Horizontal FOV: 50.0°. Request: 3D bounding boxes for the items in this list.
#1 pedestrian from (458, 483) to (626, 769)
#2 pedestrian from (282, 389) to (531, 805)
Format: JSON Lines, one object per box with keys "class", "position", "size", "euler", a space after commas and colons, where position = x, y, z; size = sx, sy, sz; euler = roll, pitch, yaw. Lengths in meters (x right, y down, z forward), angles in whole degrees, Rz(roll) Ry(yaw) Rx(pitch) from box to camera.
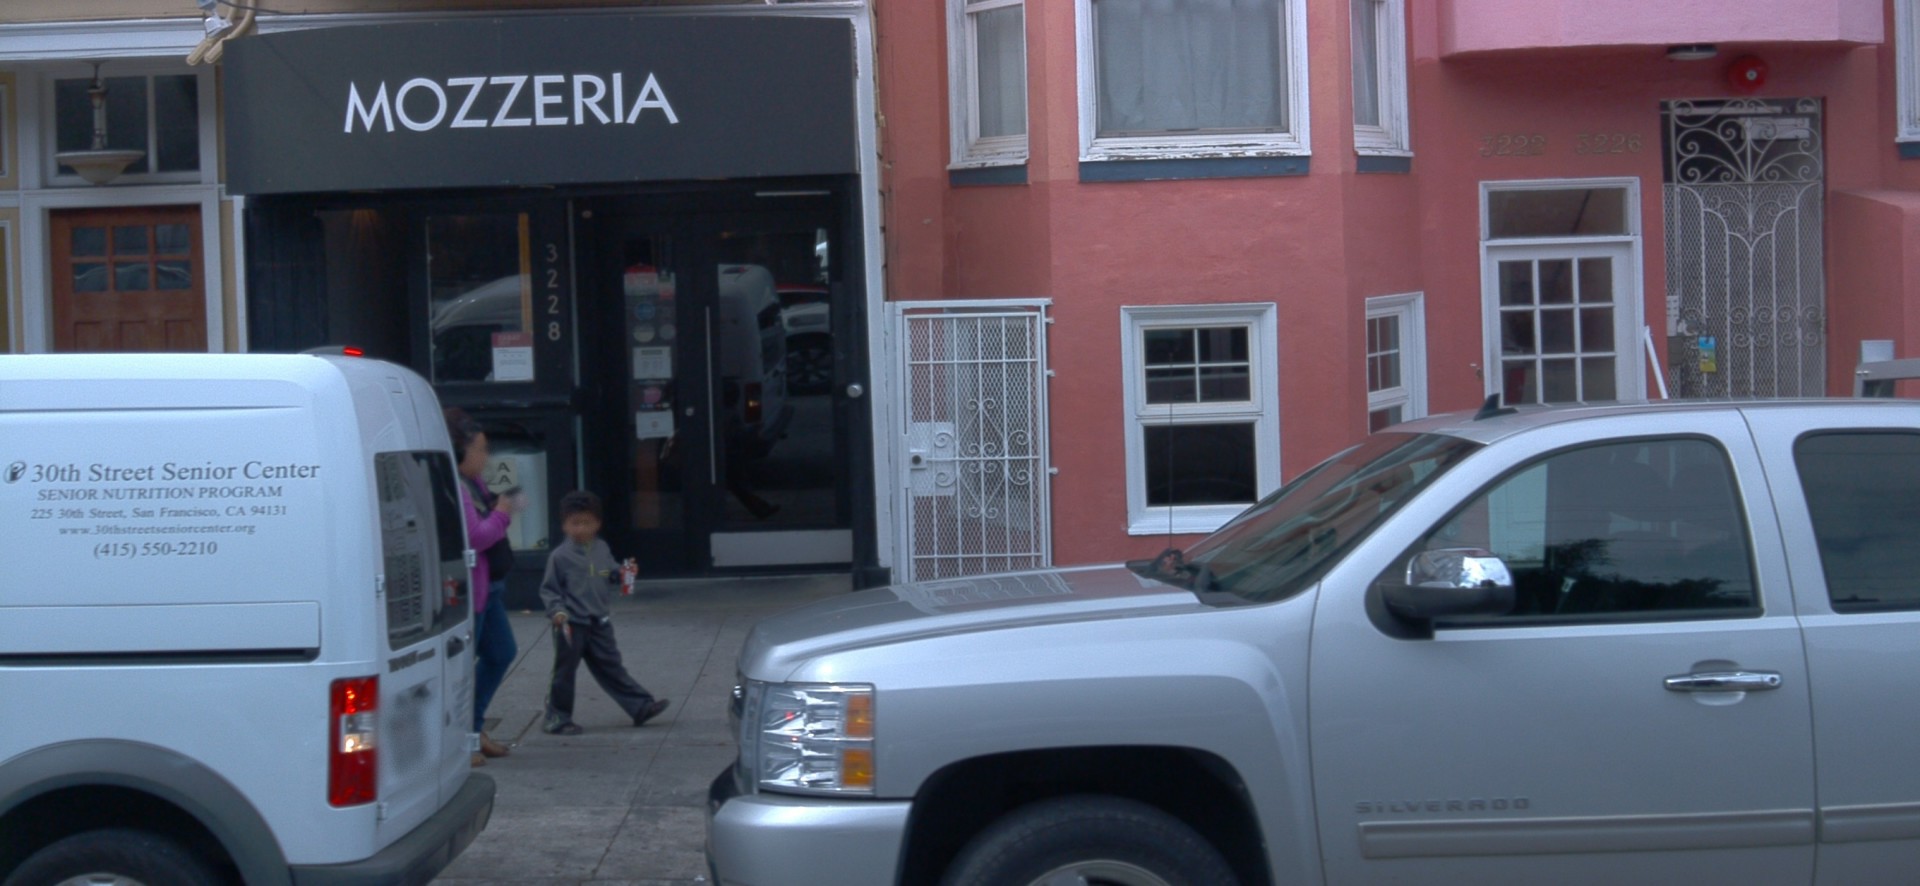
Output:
{"class": "pedestrian", "position": [-1.940, 0.826, 9.570], "size": [0.518, 1.188, 0.557], "euler": [1, 2, 33]}
{"class": "pedestrian", "position": [-2.392, 0.625, 8.998], "size": [0.857, 1.647, 0.944], "euler": [0, 2, -2]}
